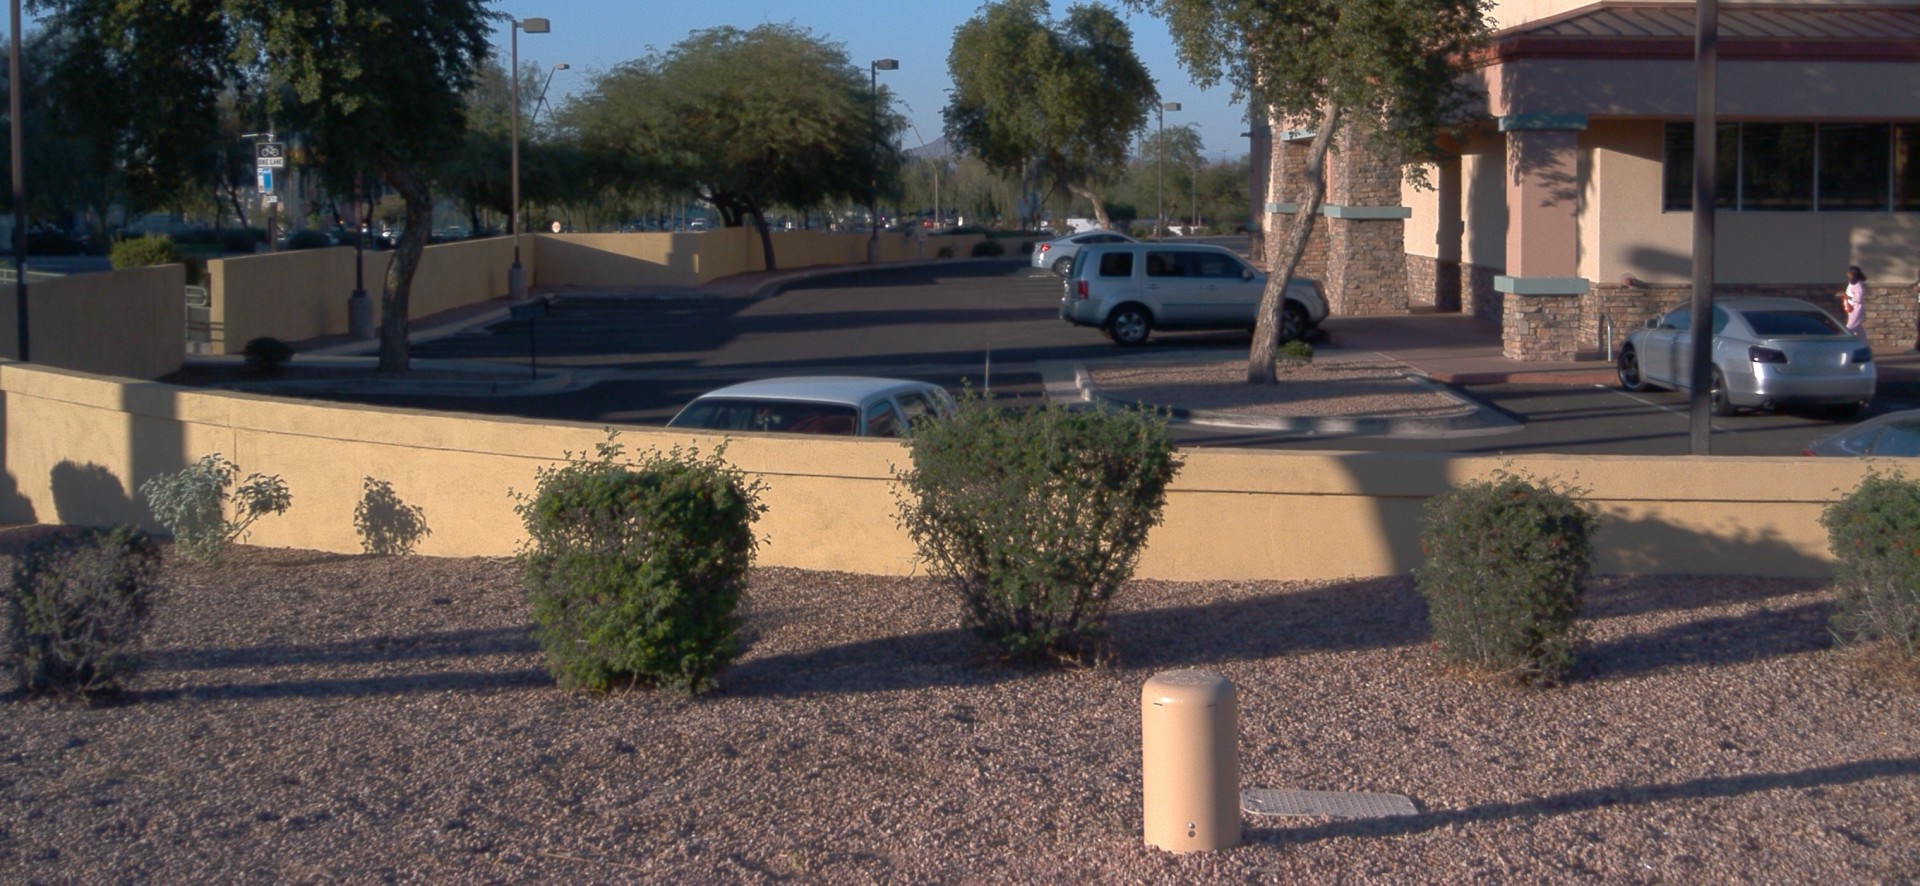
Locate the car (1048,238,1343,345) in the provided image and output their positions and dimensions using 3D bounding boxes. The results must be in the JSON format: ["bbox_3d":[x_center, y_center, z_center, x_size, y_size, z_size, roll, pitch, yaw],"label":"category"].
[{"bbox_3d":[4.188,-2.771,37.414,4.990,1.846,2.164,-1,4,-6],"label":"car"}]

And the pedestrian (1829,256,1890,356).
[{"bbox_3d":[13.741,-2.107,31.712,0.656,1.499,0.630,0,1,-2],"label":"pedestrian"}]

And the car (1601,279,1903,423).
[{"bbox_3d":[10.027,-1.268,26.703,1.912,1.573,4.738,0,5,-3],"label":"car"}]

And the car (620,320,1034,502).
[{"bbox_3d":[-0.931,-0.355,16.869,1.917,1.095,3.965,2,6,20],"label":"car"}]
